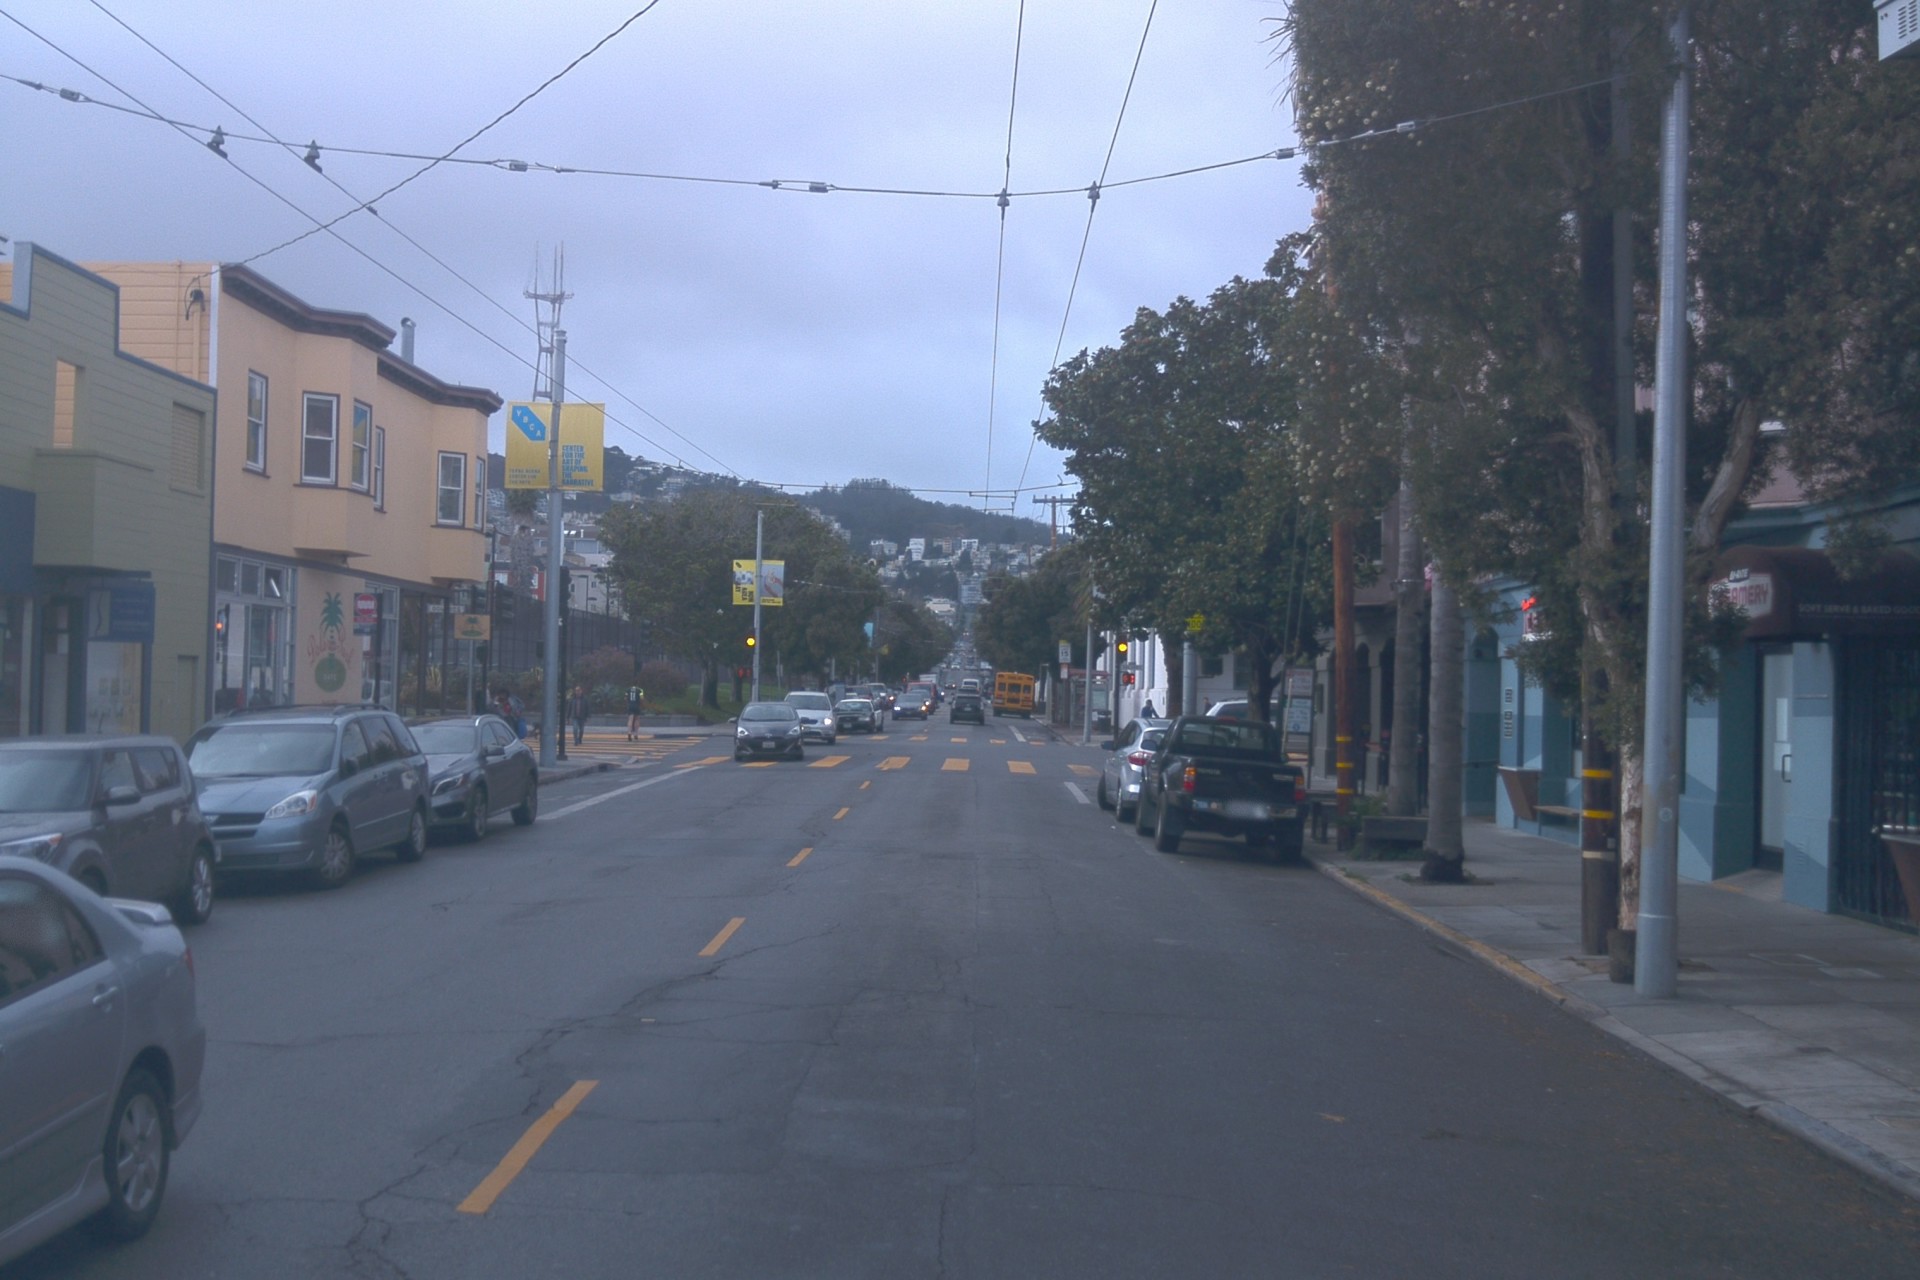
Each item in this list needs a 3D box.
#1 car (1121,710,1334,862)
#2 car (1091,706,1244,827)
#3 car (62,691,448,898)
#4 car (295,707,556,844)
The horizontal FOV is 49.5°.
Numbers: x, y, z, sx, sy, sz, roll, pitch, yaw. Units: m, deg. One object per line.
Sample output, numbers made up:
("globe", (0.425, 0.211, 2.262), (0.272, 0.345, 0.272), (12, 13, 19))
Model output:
("car", (3.345, 1.801, 27.035), (2.066, 1.730, 4.817), (1, -2, -1))
("car", (3.152, 1.906, 32.443), (1.905, 1.720, 4.089), (1, -2, -1))
("car", (-6.954, 1.459, 21.274), (2.260, 1.810, 5.102), (1, -2, -1))
("car", (-6.728, 1.665, 26.782), (2.030, 1.550, 4.487), (1, -2, 2))
